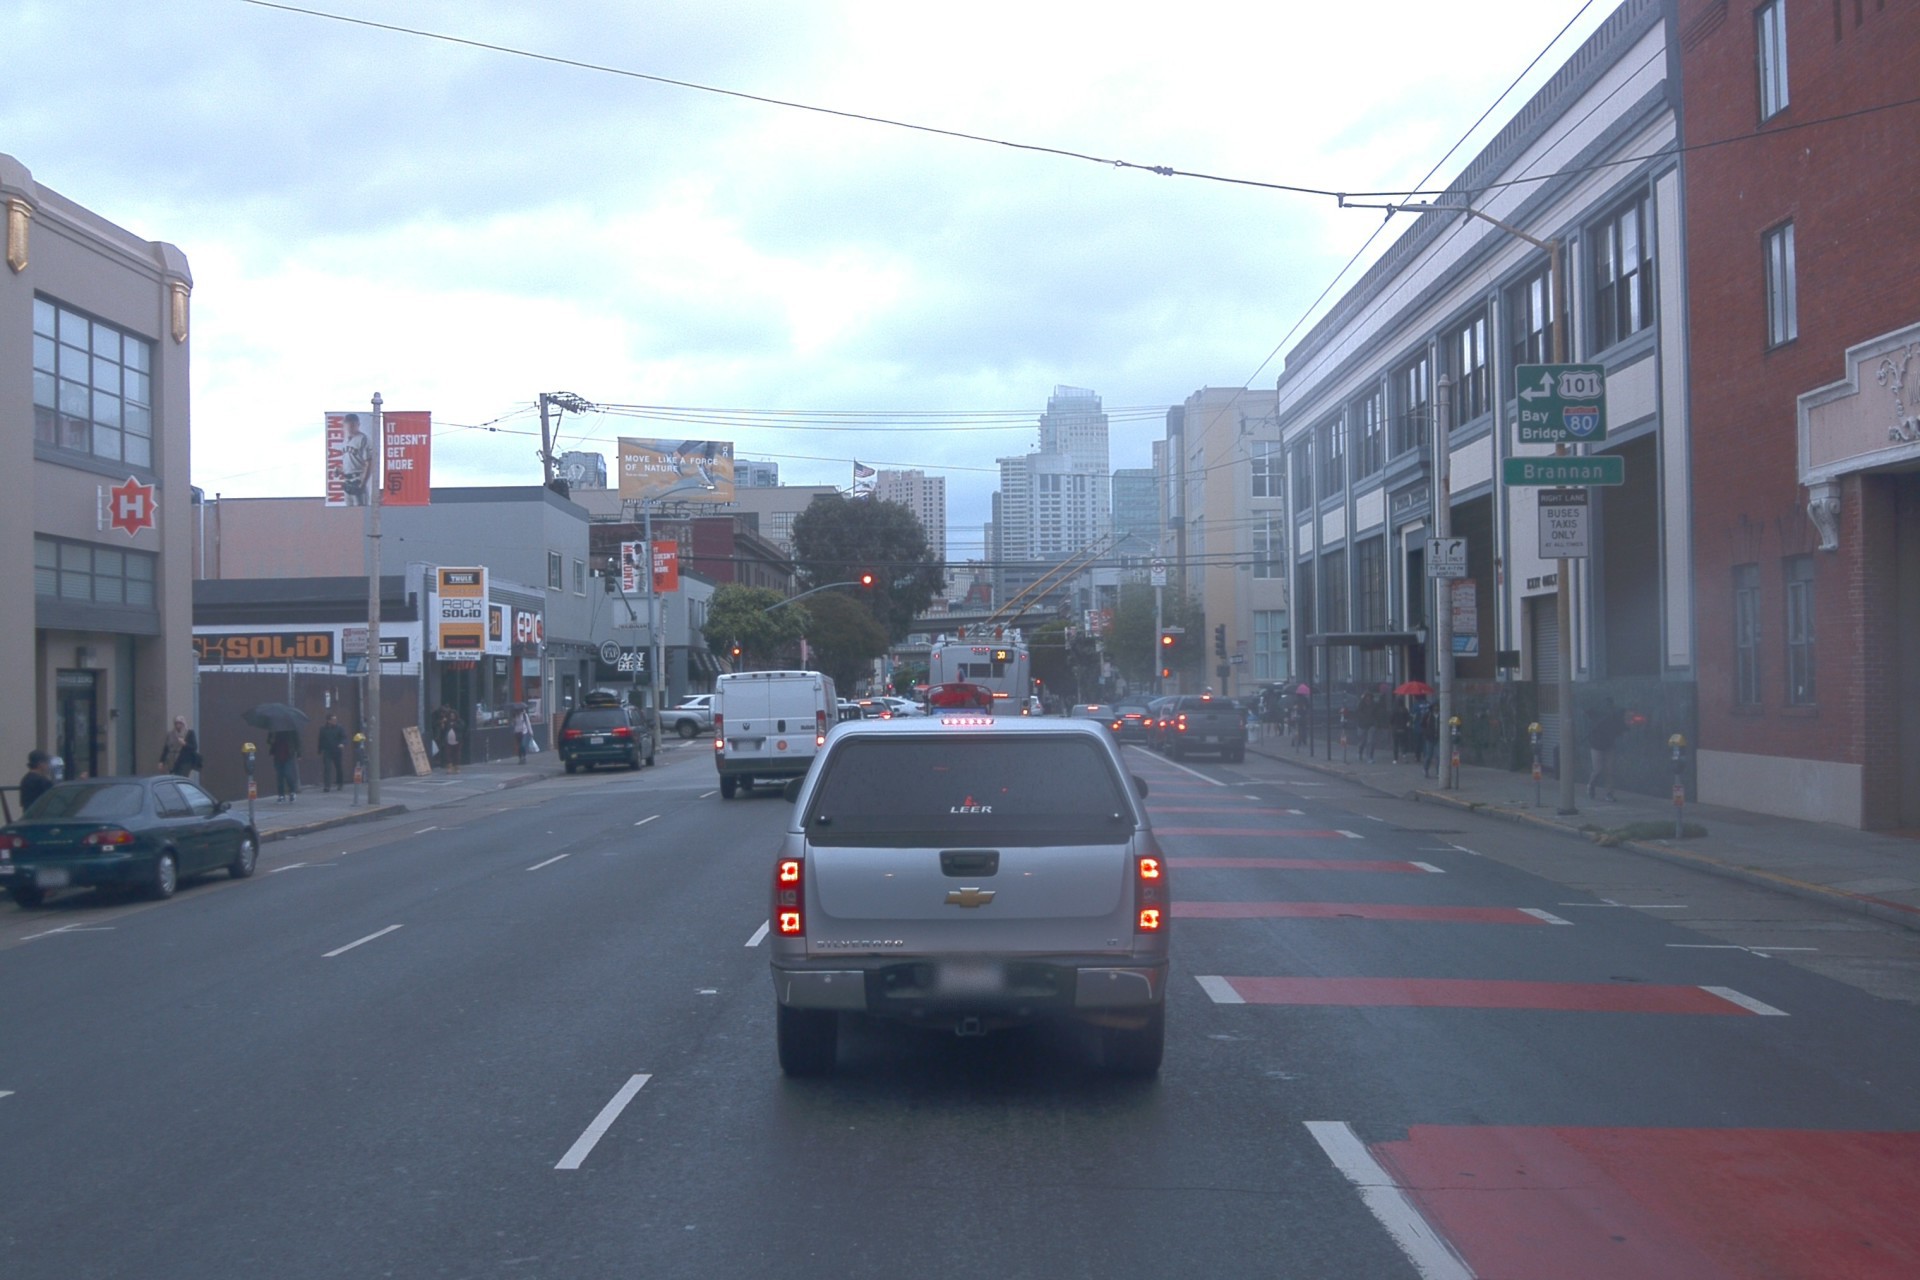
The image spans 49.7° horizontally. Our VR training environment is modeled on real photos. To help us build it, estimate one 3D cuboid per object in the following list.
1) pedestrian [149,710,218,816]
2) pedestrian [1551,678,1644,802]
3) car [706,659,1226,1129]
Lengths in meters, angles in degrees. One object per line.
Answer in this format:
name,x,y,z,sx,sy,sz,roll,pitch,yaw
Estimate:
pedestrian,-13.111,2.063,35.028,0.852,1.740,0.841,0,-1,0
pedestrian,10.430,1.620,33.974,1.012,1.970,1.529,0,-1,-1
car,0.043,1.230,12.219,2.437,2.200,4.924,0,-1,0
